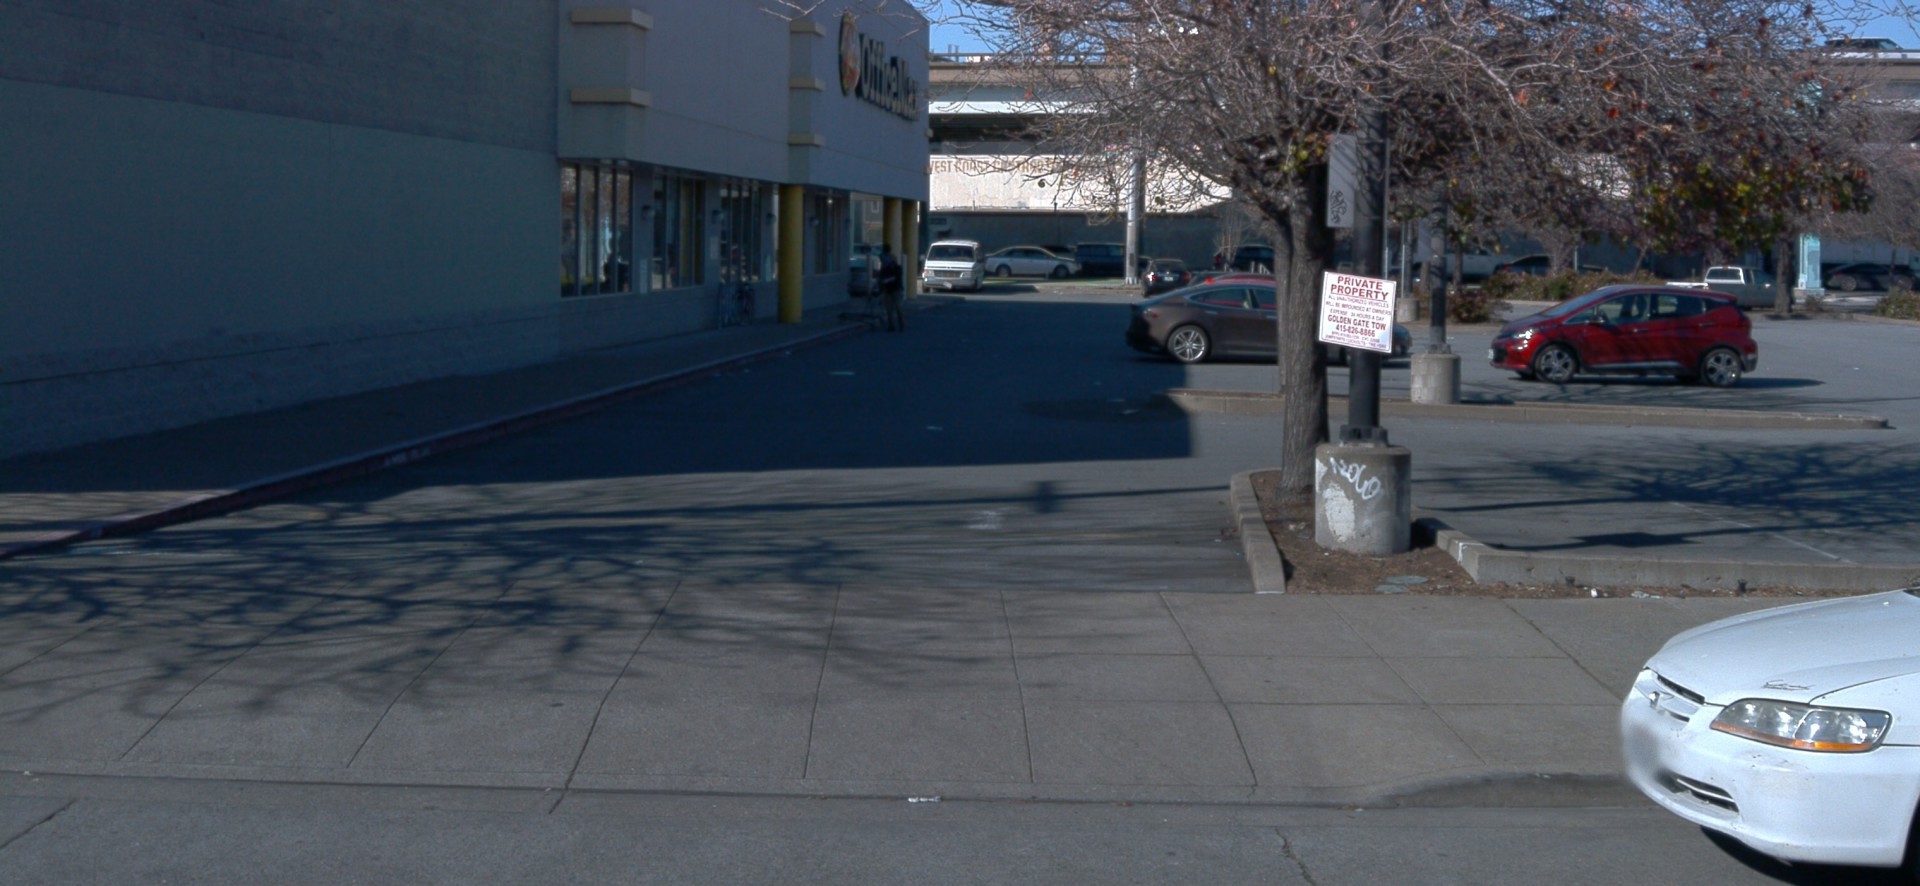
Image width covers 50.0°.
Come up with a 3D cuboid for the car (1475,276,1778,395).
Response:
[{"bbox_3d":[10.540,-1.743,32.777,4.156,1.695,2.038,1,4,2],"label":"car"}]

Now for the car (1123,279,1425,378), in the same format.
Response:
[{"bbox_3d":[5.393,-2.030,35.905,5.044,1.525,1.995,1,4,5],"label":"car"}]
